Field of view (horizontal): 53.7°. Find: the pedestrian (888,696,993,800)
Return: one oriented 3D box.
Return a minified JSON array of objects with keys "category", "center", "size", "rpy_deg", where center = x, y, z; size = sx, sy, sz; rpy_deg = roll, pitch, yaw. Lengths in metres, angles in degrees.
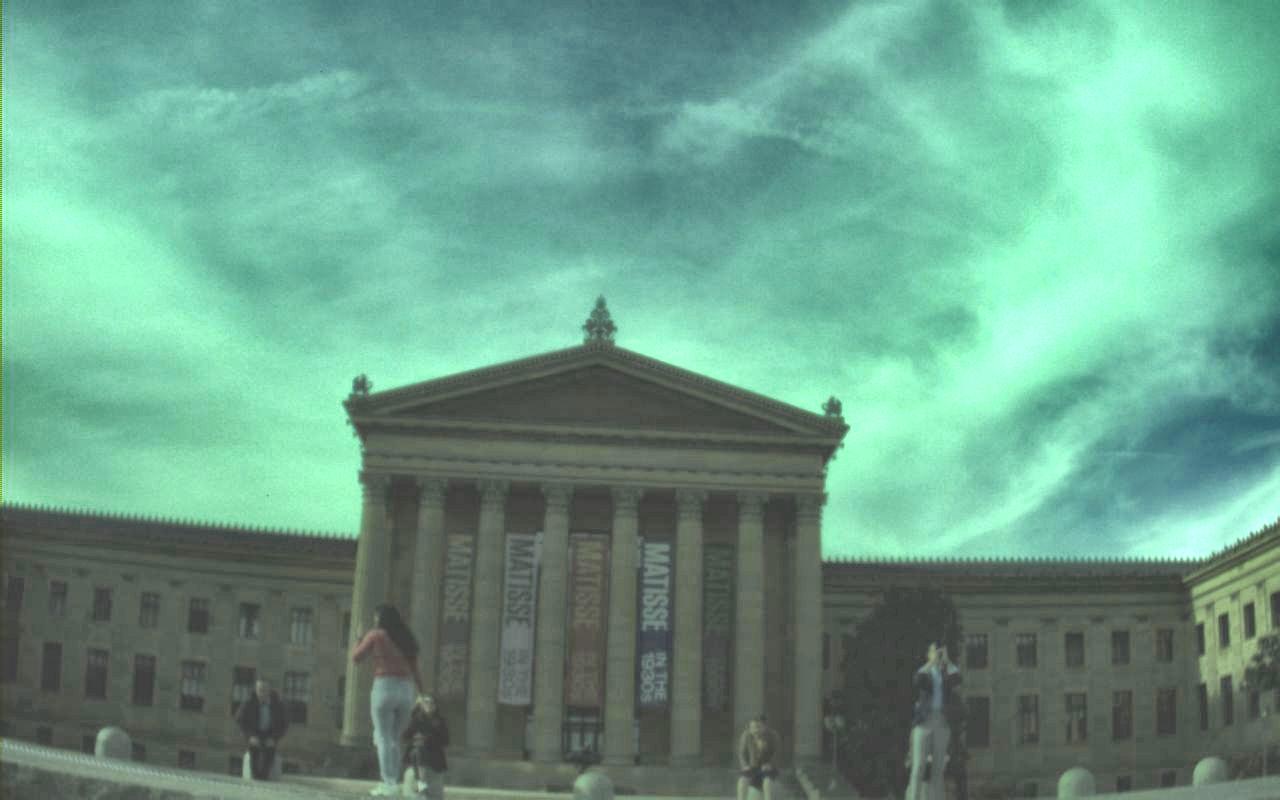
[{"category":"pedestrian","center":[3.360,4.263,13.262],"size":[0.832,1.642,0.854],"rpy_deg":[0,0,-10]}]

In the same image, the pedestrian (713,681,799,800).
[{"category":"pedestrian","center":[1.284,4.046,13.302],"size":[0.859,1.744,0.862],"rpy_deg":[0,0,7]}]

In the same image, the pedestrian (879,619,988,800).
[{"category":"pedestrian","center":[2.870,3.159,11.763],"size":[0.770,1.873,0.759],"rpy_deg":[0,0,-8]}]

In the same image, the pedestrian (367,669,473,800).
[{"category":"pedestrian","center":[-2.429,3.969,13.252],"size":[0.855,1.780,0.866],"rpy_deg":[0,0,12]}]

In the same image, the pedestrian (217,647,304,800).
[{"category":"pedestrian","center":[-4.206,3.705,12.925],"size":[0.835,1.762,0.845],"rpy_deg":[0,0,-14]}]

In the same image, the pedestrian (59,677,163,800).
[{"category":"pedestrian","center":[-6.217,4.194,12.993],"size":[0.872,1.625,0.843],"rpy_deg":[0,0,-1]}]

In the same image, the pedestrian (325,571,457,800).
[{"category":"pedestrian","center":[-1.970,2.321,9.455],"size":[0.775,1.835,0.786],"rpy_deg":[0,0,-30]}]
